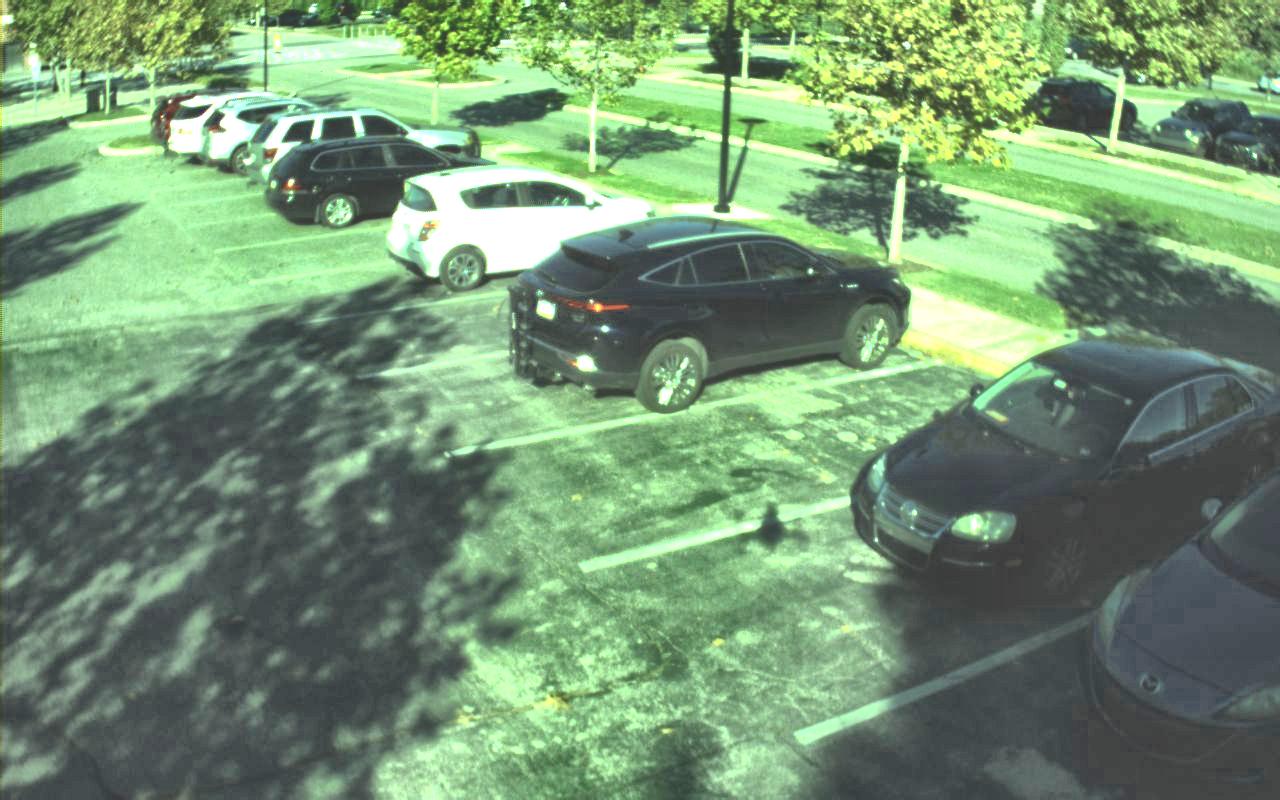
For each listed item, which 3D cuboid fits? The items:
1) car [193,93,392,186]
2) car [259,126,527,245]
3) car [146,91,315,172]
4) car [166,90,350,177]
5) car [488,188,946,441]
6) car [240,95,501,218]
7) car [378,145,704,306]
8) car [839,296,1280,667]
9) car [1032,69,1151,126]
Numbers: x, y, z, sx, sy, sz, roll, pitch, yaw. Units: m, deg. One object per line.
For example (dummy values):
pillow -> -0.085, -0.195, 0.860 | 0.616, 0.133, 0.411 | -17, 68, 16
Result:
car -> -8.276, -6.188, 28.427 | 4.476, 1.676, 1.960 | -10, 19, -28
car -> -4.467, -3.916, 22.103 | 4.481, 1.550, 1.930 | -10, 19, -28
car -> -11.380, -7.414, 32.702 | 4.489, 1.686, 1.982 | -12, 19, -32
car -> -9.807, -6.787, 30.358 | 4.537, 1.677, 1.978 | -10, 18, -27
car -> 0.931, -1.100, 13.333 | 4.616, 1.739, 1.984 | -12, 19, -32
car -> -5.421, -4.930, 24.391 | 4.890, 1.898, 2.078 | -10, 18, -28
car -> -1.408, -2.613, 18.036 | 4.308, 1.678, 1.919 | -10, 19, -29
car -> 3.863, 0.390, 9.427 | 4.435, 1.570, 1.954 | -11, 19, -30
car -> 15.116, -10.025, 39.032 | 4.634, 1.680, 1.999 | -13, 20, -36
